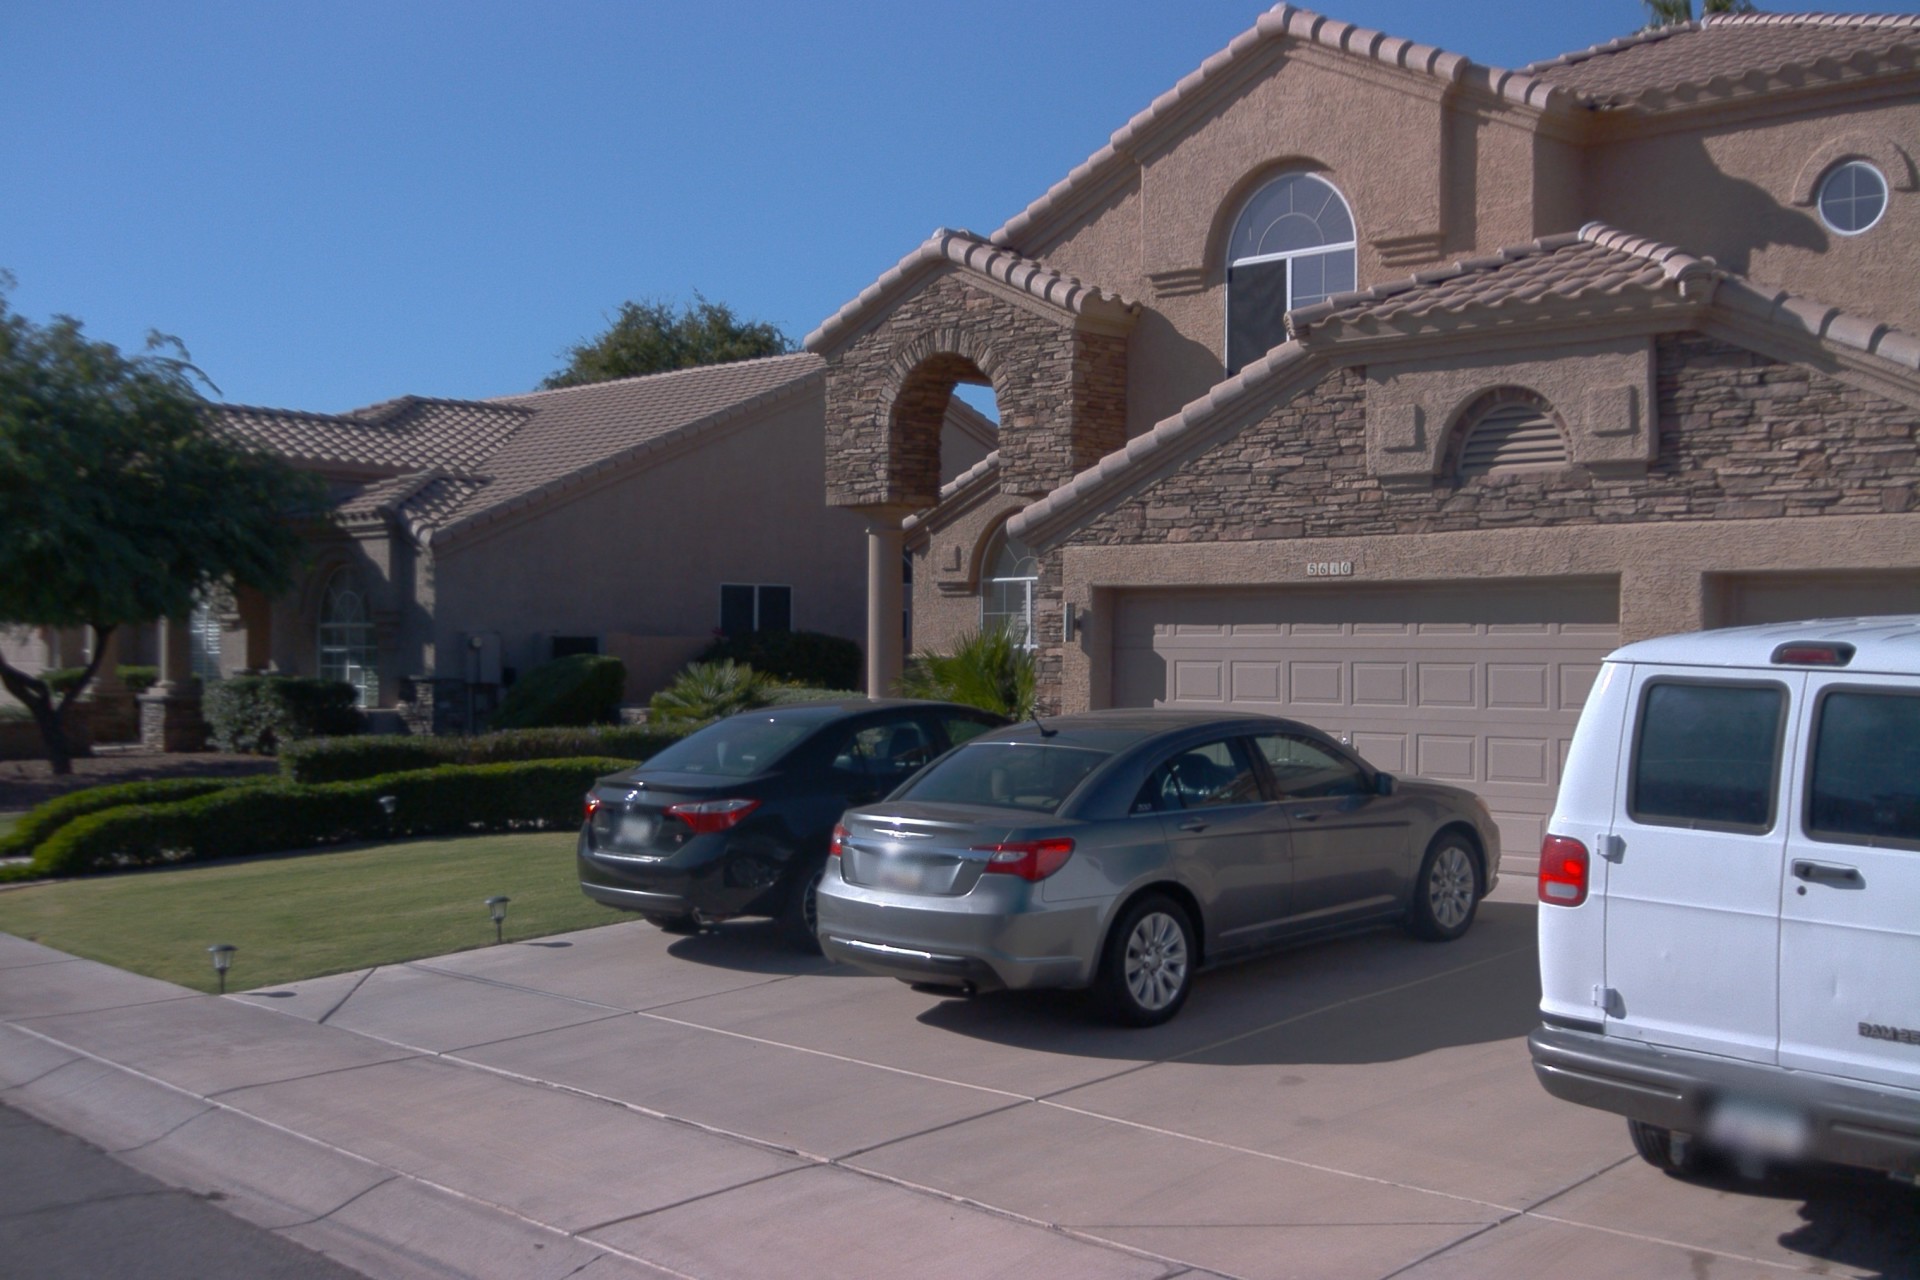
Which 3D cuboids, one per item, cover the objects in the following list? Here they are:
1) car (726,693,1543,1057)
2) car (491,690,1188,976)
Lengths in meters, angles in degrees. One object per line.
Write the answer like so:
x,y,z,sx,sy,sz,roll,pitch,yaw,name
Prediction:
1.147,1.135,11.850,4.566,1.590,2.078,1,0,-43,car
-0.689,1.154,14.116,4.393,1.560,2.066,1,0,-43,car
